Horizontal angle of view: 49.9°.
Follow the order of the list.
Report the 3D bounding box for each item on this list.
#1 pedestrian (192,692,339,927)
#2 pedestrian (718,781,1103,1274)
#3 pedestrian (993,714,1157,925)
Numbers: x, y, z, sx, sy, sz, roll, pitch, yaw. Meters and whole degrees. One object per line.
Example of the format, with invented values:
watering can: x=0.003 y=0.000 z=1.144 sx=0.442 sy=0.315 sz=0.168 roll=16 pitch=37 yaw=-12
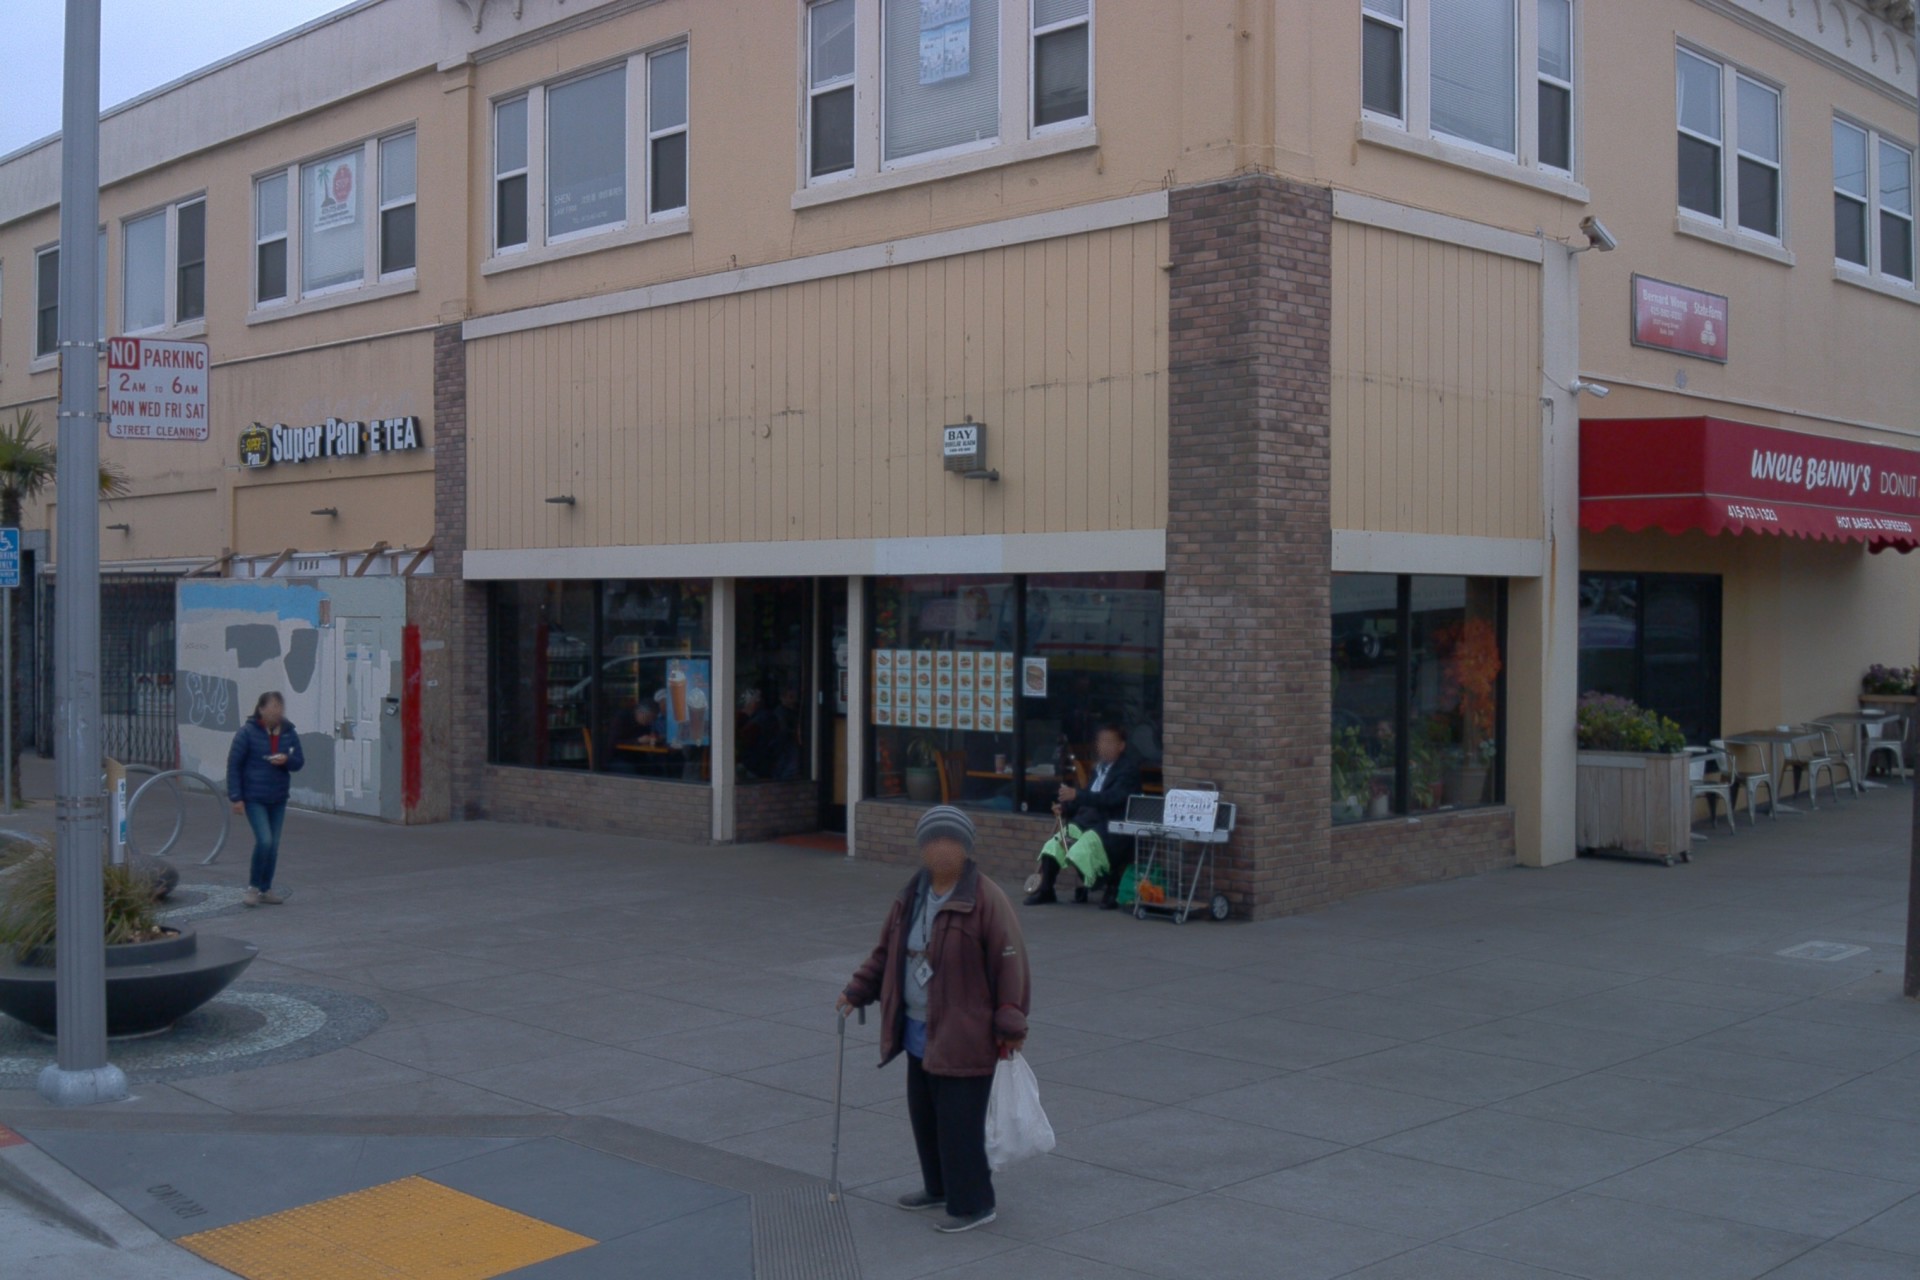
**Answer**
pedestrian: x=-5.009 y=1.189 z=14.897 sx=0.742 sy=1.598 sz=0.783 roll=-1 pitch=1 yaw=-42
pedestrian: x=-0.175 y=1.284 z=7.263 sx=1.077 sy=1.477 sz=0.824 roll=0 pitch=1 yaw=38
pedestrian: x=0.803 y=1.232 z=14.485 sx=0.878 sy=1.374 sz=0.735 roll=1 pitch=1 yaw=45
